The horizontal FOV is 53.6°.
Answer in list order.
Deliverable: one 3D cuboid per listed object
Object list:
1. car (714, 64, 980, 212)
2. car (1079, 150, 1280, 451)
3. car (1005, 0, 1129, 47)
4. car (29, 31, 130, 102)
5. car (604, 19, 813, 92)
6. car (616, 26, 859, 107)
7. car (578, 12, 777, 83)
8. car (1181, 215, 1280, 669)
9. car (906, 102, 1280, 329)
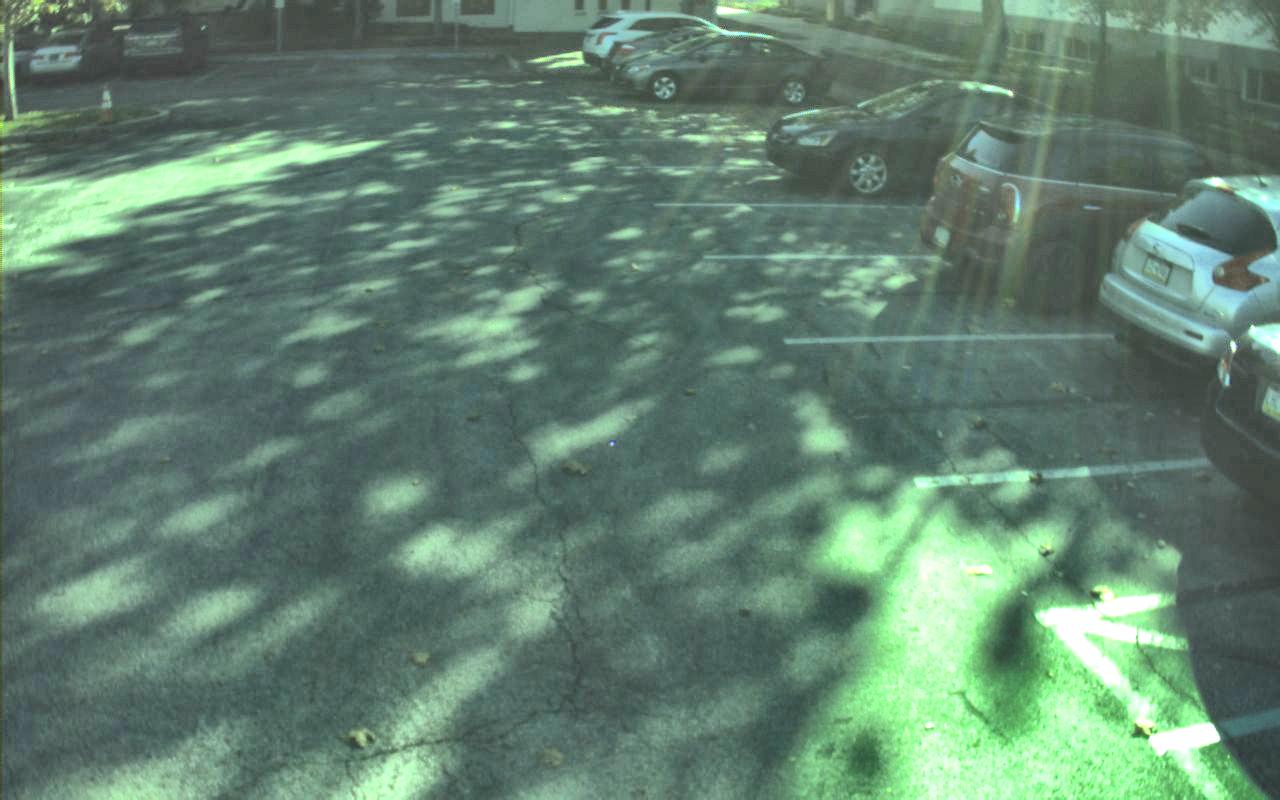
[{"bbox_3d":[2.607,-3.639,16.541,1.944,1.567,4.545,-5,17,-14],"label":"car"},{"bbox_3d":[5.502,-0.892,8.169,4.303,1.615,1.916,-5,17,-13],"label":"car"},{"bbox_3d":[15.461,-13.928,42.295,2.173,2.078,5.570,-4,17,-10],"label":"car"},{"bbox_3d":[-15.603,-9.254,31.126,1.969,1.652,4.512,-4,17,-11],"label":"car"},{"bbox_3d":[1.496,-7.719,27.484,4.320,1.566,1.928,-4,17,-11],"label":"car"},{"bbox_3d":[1.964,-6.871,25.206,4.661,1.591,1.994,-4,16,-9],"label":"car"},{"bbox_3d":[0.879,-8.564,29.816,4.484,1.657,1.977,-5,17,-12],"label":"car"},{"bbox_3d":[5.299,0.032,5.521,4.467,1.579,1.956,-3,16,-7],"label":"car"},{"bbox_3d":[4.805,-1.781,10.708,4.460,1.629,1.950,-5,17,-12],"label":"car"}]
